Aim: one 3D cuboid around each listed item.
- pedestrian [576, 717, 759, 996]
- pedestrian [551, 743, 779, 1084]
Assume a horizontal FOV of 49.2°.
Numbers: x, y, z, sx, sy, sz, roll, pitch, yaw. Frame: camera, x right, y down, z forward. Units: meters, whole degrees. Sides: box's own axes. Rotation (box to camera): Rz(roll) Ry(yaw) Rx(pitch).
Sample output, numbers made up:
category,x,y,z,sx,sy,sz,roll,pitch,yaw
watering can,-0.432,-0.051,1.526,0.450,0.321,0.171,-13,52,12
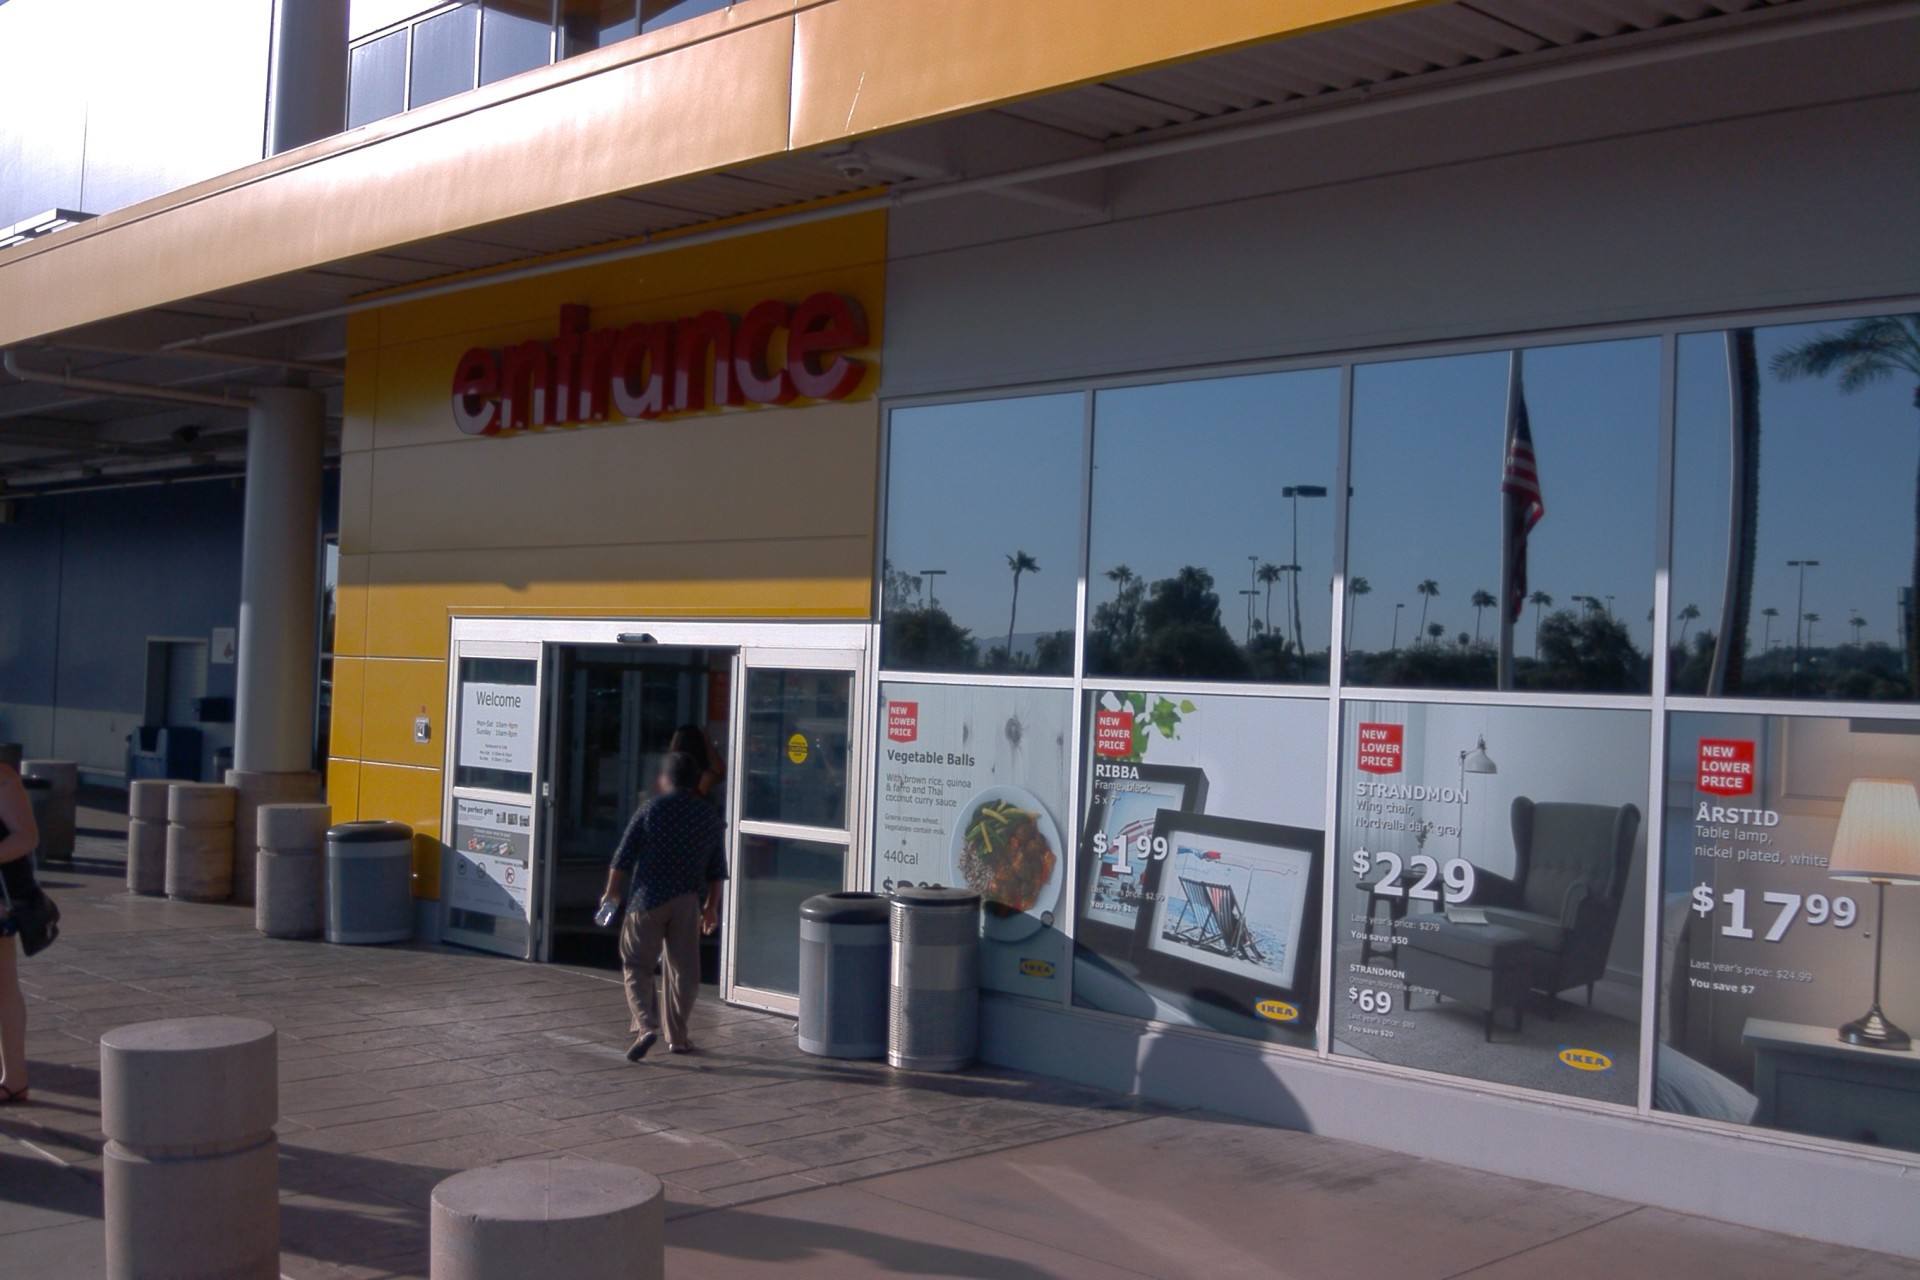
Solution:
category,x,y,z,sx,sy,sz,roll,pitch,yaw
pedestrian,-1.866,1.359,13.514,0.830,1.680,0.973,1,0,13
pedestrian,-1.521,1.342,10.660,0.947,1.580,1.104,2,0,-17
